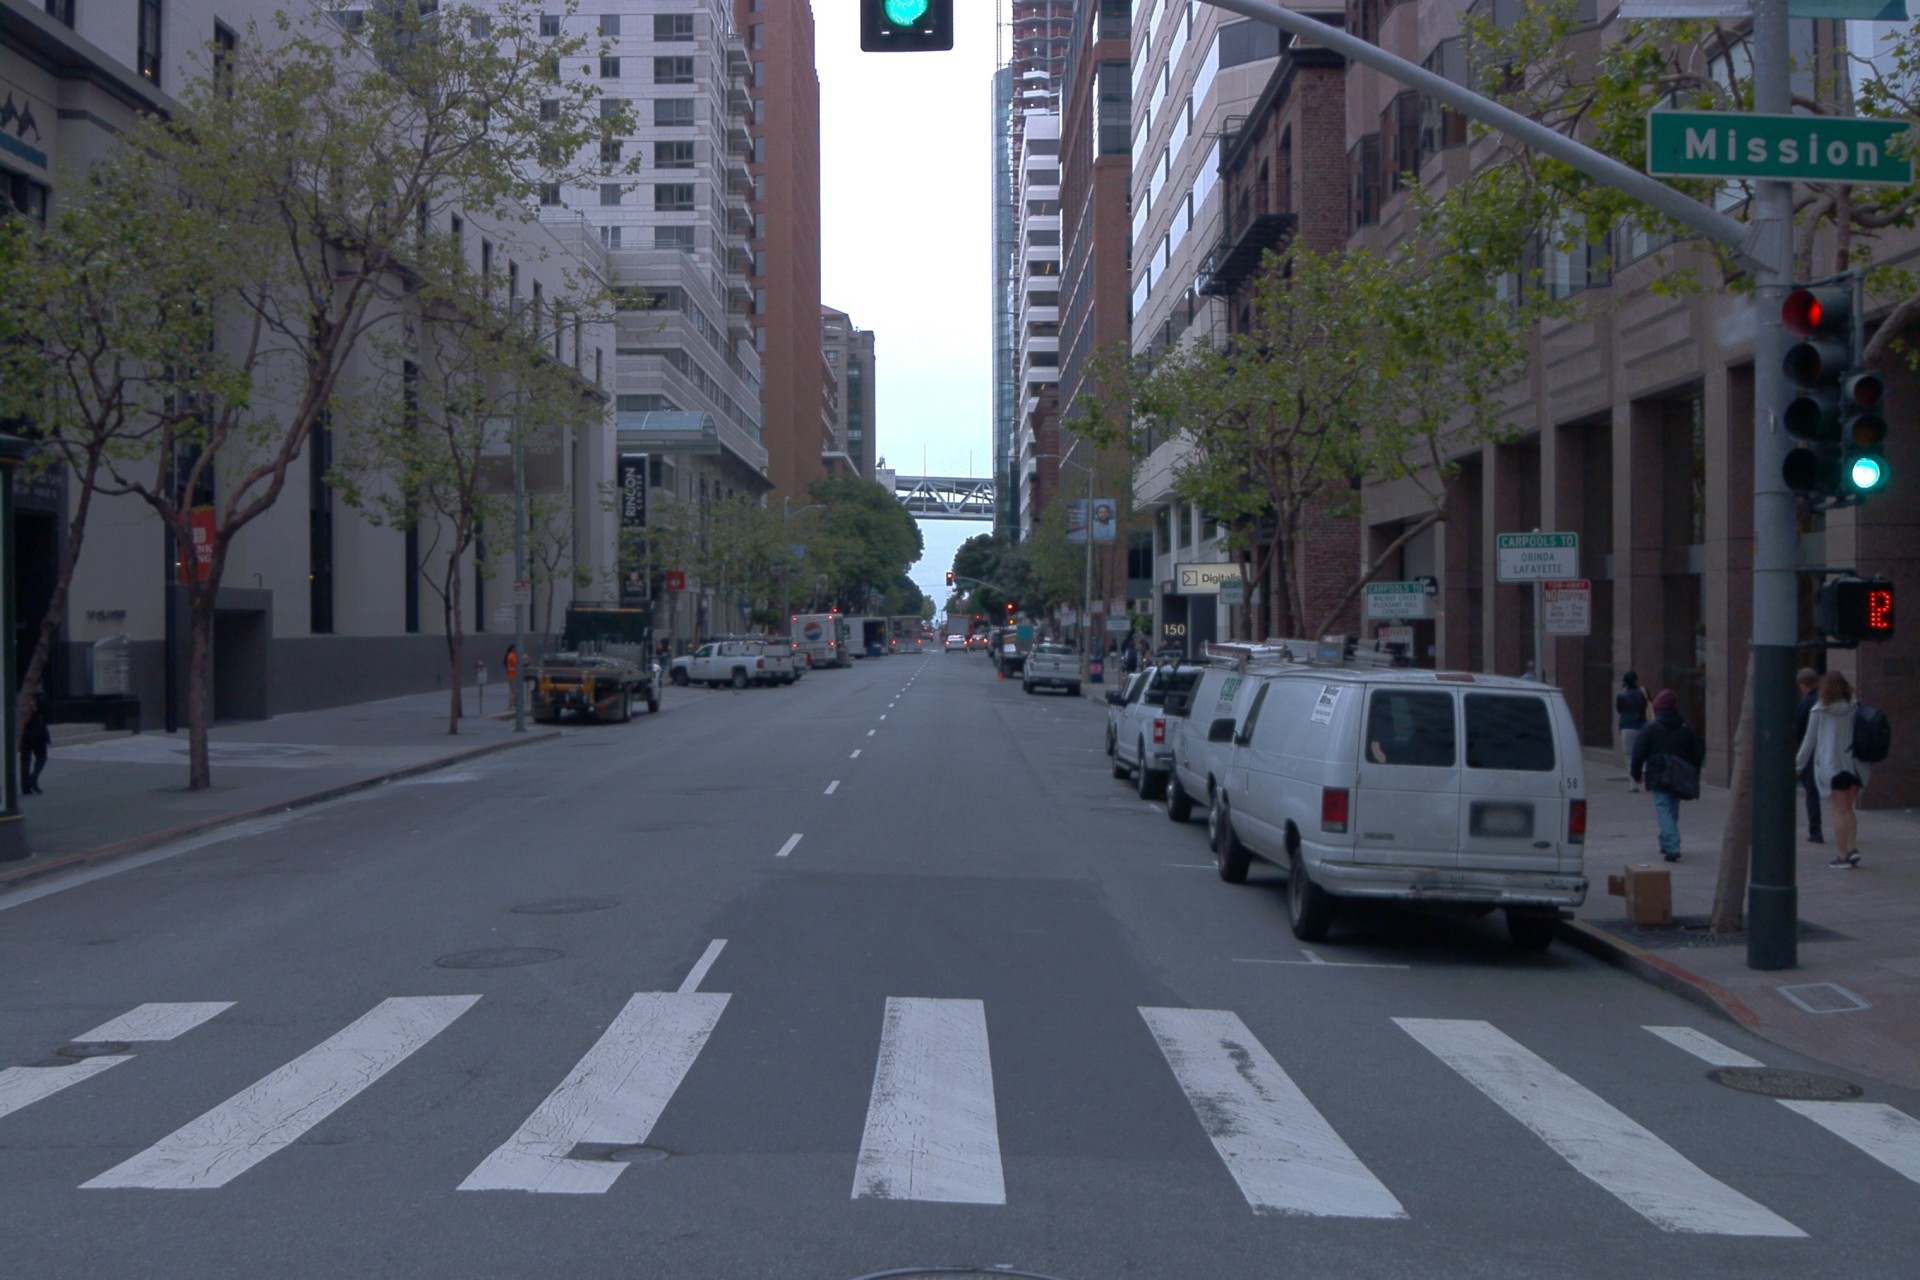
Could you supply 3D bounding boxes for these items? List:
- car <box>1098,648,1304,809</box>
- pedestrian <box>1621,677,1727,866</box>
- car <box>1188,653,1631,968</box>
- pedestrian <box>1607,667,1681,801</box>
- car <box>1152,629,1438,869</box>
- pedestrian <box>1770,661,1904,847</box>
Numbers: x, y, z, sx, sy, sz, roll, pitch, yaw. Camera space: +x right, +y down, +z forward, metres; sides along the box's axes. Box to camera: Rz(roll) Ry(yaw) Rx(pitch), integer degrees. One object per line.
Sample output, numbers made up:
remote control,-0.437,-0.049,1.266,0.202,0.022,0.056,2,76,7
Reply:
car,3.403,1.189,30.187,2.227,2.040,5.529,0,1,-1
pedestrian,6.770,1.228,19.534,0.758,1.713,0.968,0,1,7
car,3.477,1.215,17.220,2.313,2.100,5.502,0,1,-2
pedestrian,8.780,1.192,26.415,0.667,1.666,0.853,0,1,0
car,3.639,1.088,23.499,2.273,2.380,5.496,0,1,-1
pedestrian,8.499,1.086,19.958,0.855,1.736,0.998,0,1,-1
